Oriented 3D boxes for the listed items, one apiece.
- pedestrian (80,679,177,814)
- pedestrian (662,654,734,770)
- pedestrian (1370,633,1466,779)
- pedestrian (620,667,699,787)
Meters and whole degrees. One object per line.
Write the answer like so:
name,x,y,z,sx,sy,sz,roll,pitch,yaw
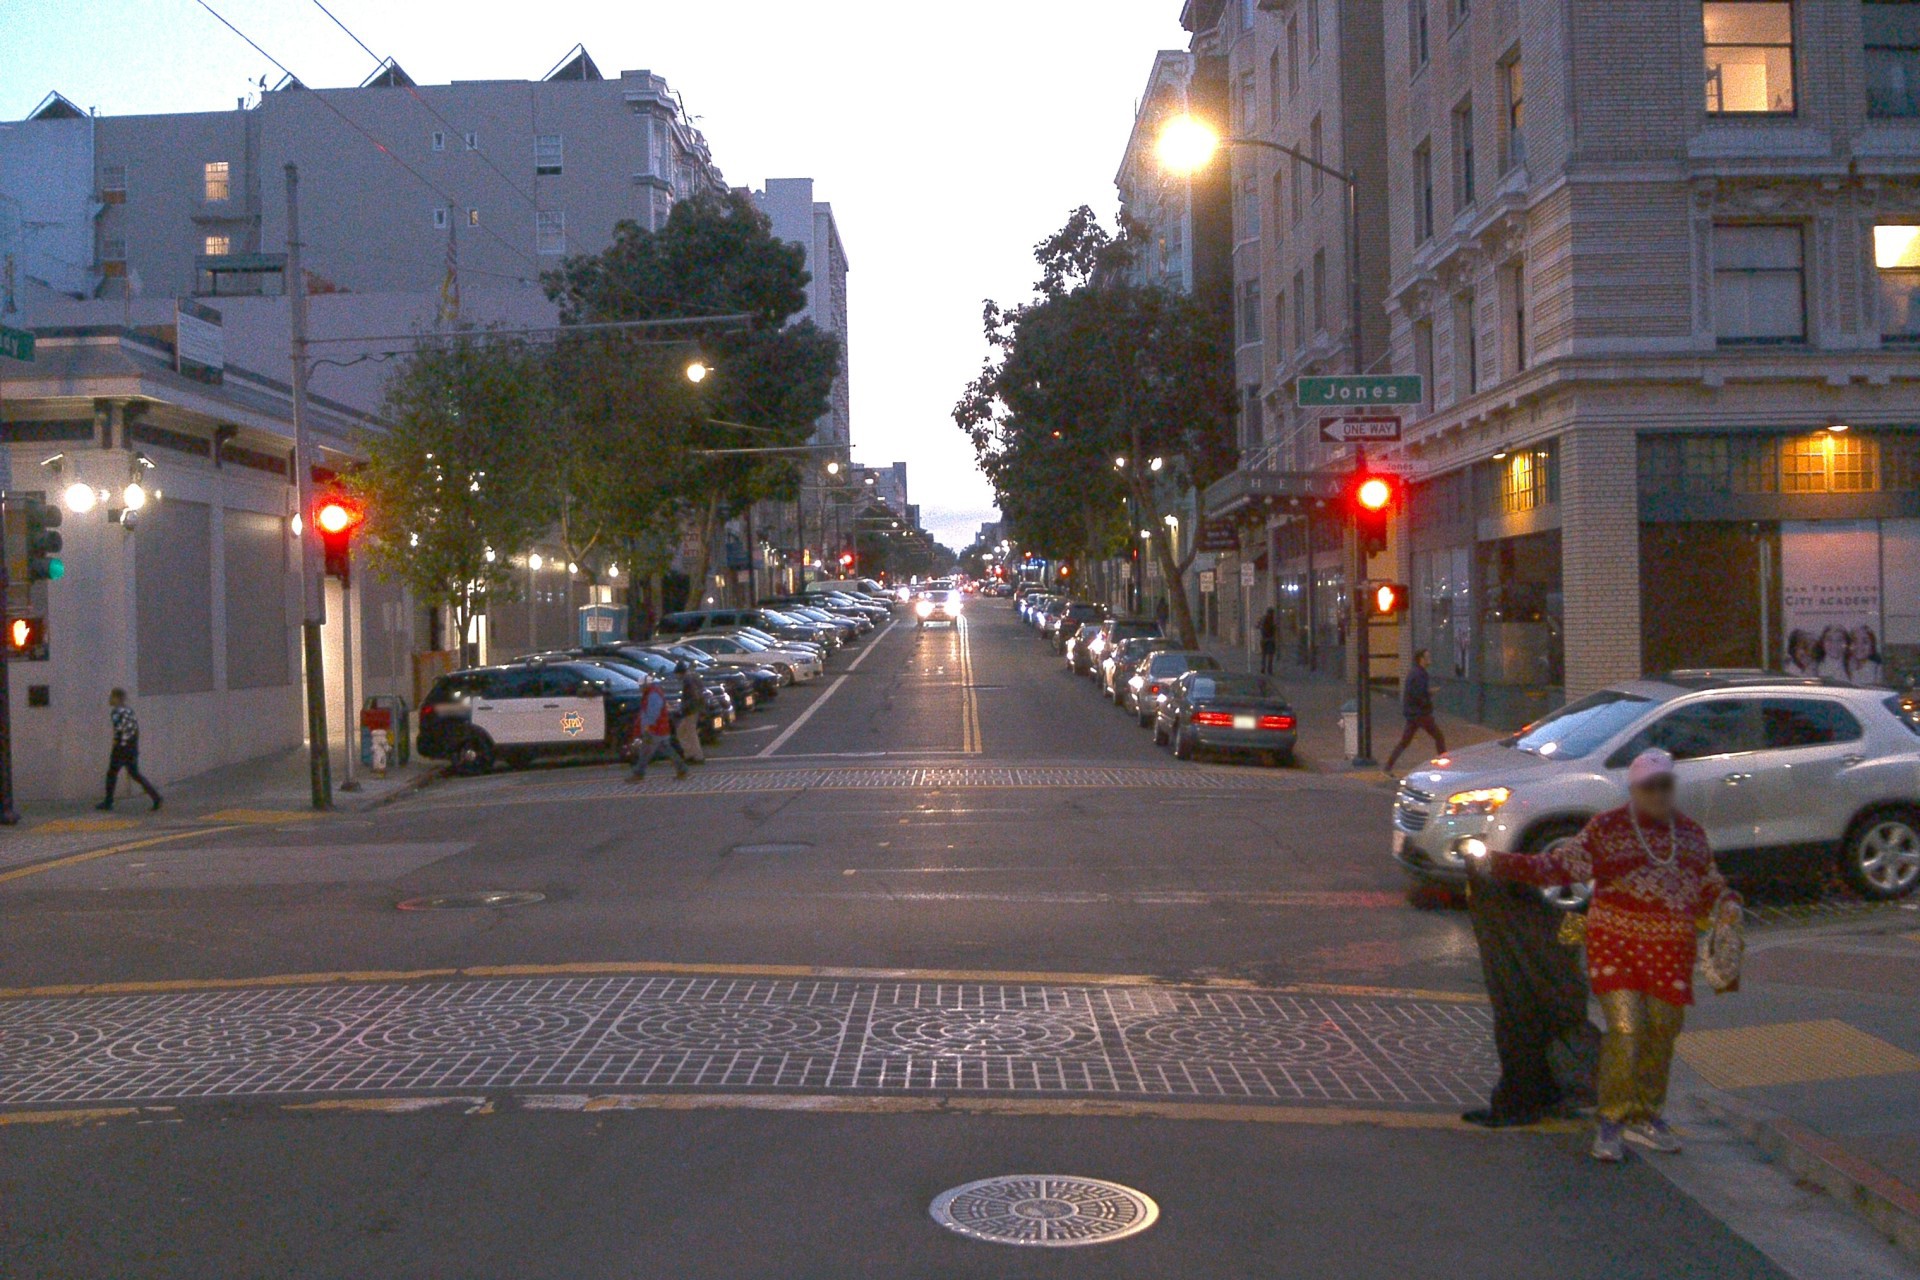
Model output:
pedestrian,-11.460,1.457,28.353,1.077,1.820,0.593,0,1,8
pedestrian,-3.987,1.071,31.225,0.998,1.700,1.002,0,1,-11
pedestrian,6.164,0.872,27.705,1.098,1.930,0.690,0,1,-3
pedestrian,-4.147,1.185,28.457,0.999,1.590,1.001,0,1,-4
